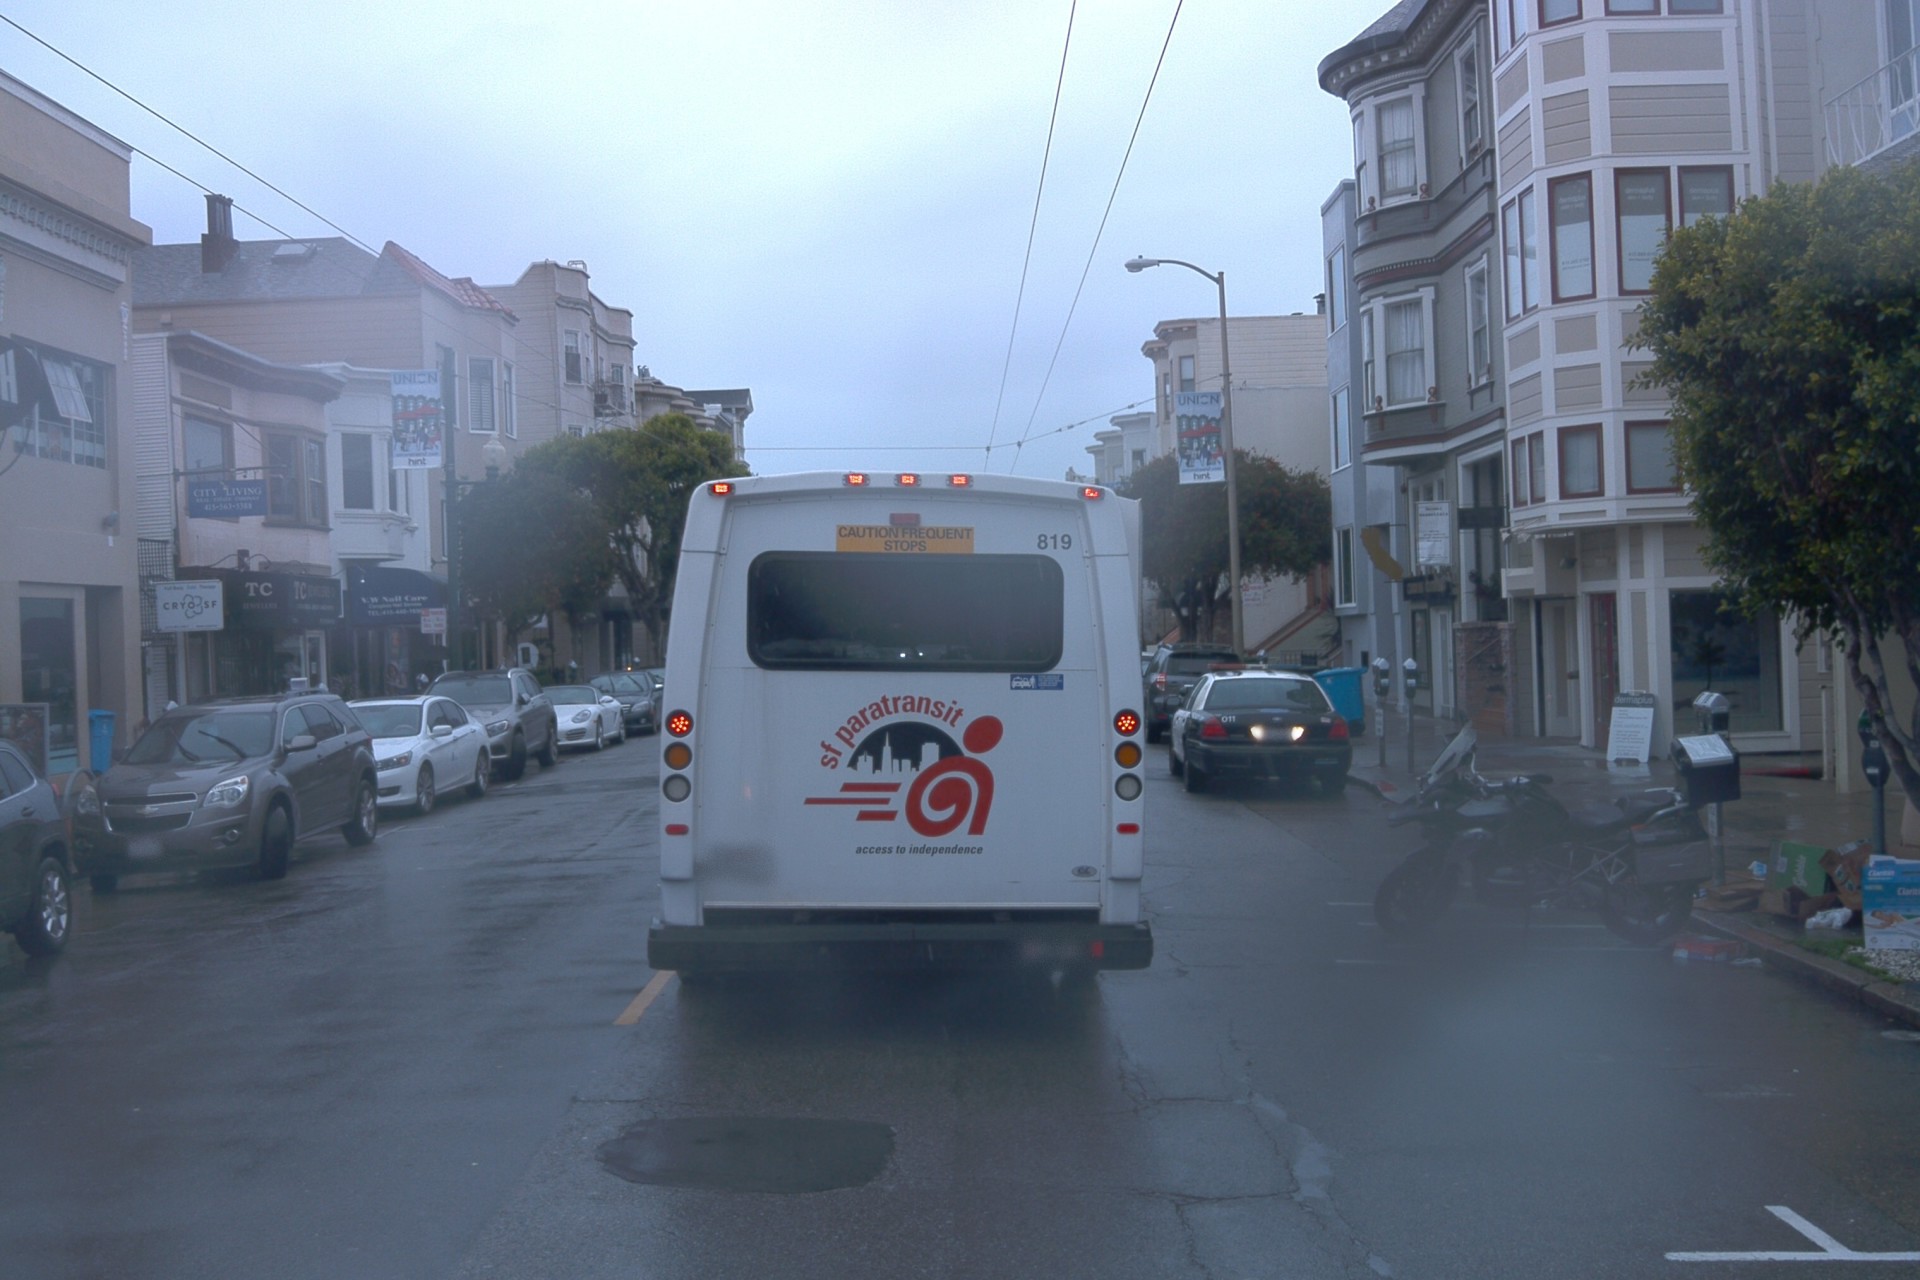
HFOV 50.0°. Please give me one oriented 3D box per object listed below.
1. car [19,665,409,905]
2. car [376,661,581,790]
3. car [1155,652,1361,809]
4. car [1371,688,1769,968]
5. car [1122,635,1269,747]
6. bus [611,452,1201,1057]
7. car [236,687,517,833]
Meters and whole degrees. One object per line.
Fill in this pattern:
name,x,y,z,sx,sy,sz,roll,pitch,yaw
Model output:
car,-7.192,1.301,20.515,2.065,1.960,4.992,1,1,0
car,-7.505,1.279,32.645,2.149,1.760,4.917,1,1,-1
car,3.671,1.057,26.338,2.108,1.690,5.363,1,1,3
car,3.896,1.170,13.391,2.374,1.650,1.013,1,1,12
car,4.059,0.828,36.203,2.116,1.790,4.480,1,1,1
bus,-0.526,0.516,13.162,2.786,2.850,6.709,1,1,-5
car,-7.476,1.477,27.004,2.131,1.540,5.132,1,1,1
